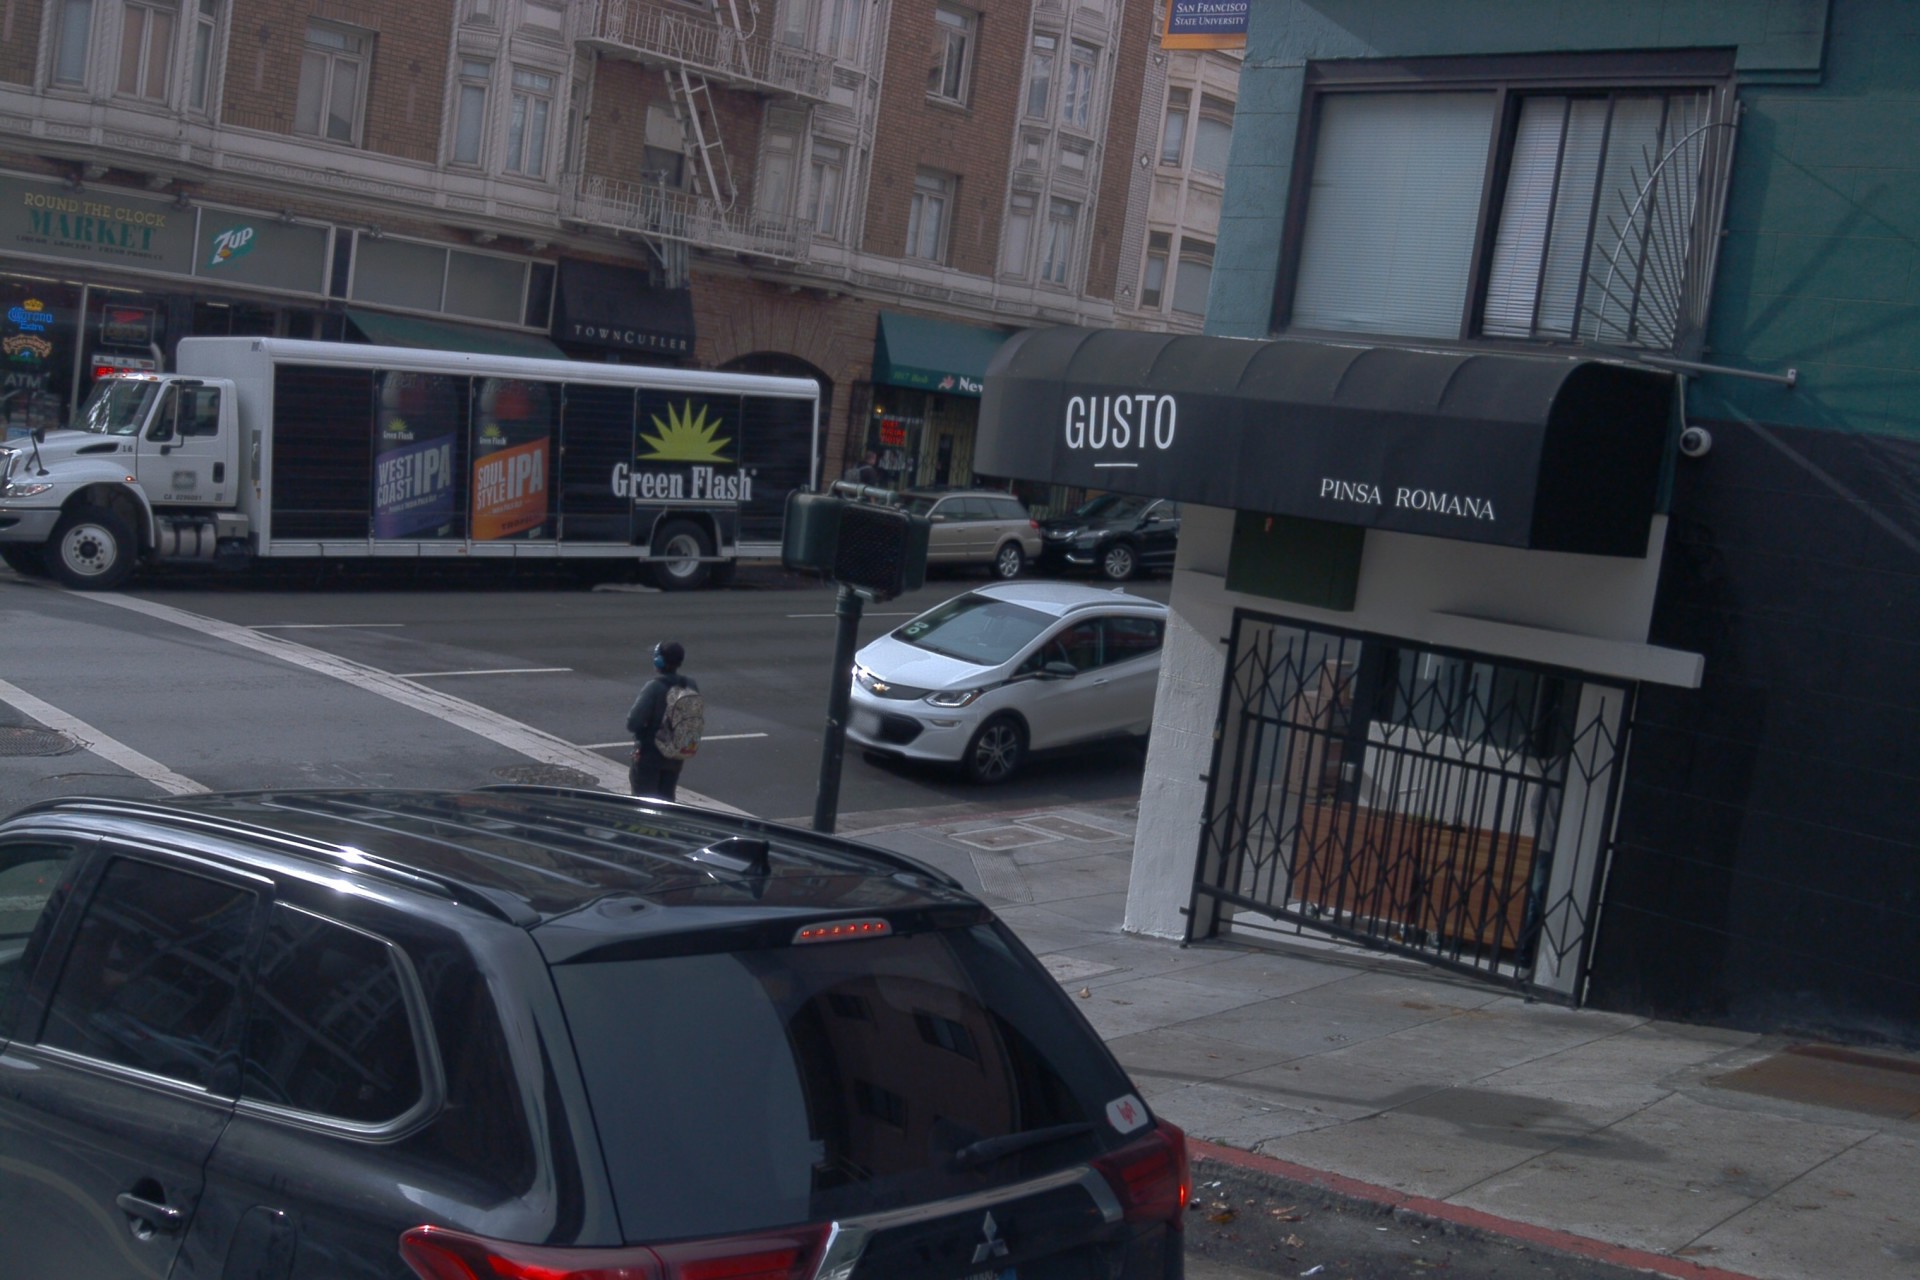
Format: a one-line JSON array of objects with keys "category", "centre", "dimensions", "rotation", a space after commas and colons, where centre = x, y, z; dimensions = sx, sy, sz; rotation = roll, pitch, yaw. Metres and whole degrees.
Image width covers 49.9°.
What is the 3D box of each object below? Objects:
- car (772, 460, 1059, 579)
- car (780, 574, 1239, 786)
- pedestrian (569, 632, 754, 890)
[{"category": "car", "centre": [-0.689, -1.983, 35.329], "dimensions": [2.182, 1.770, 4.833], "rotation": [2, 1, 42]}, {"category": "car", "centre": [0.570, 0.320, 19.601], "dimensions": [2.062, 1.780, 4.279], "rotation": [2, 1, 42]}, {"category": "pedestrian", "centre": [-1.944, 0.754, 13.400], "dimensions": [0.929, 1.590, 0.750], "rotation": [2, 1, 43]}]
